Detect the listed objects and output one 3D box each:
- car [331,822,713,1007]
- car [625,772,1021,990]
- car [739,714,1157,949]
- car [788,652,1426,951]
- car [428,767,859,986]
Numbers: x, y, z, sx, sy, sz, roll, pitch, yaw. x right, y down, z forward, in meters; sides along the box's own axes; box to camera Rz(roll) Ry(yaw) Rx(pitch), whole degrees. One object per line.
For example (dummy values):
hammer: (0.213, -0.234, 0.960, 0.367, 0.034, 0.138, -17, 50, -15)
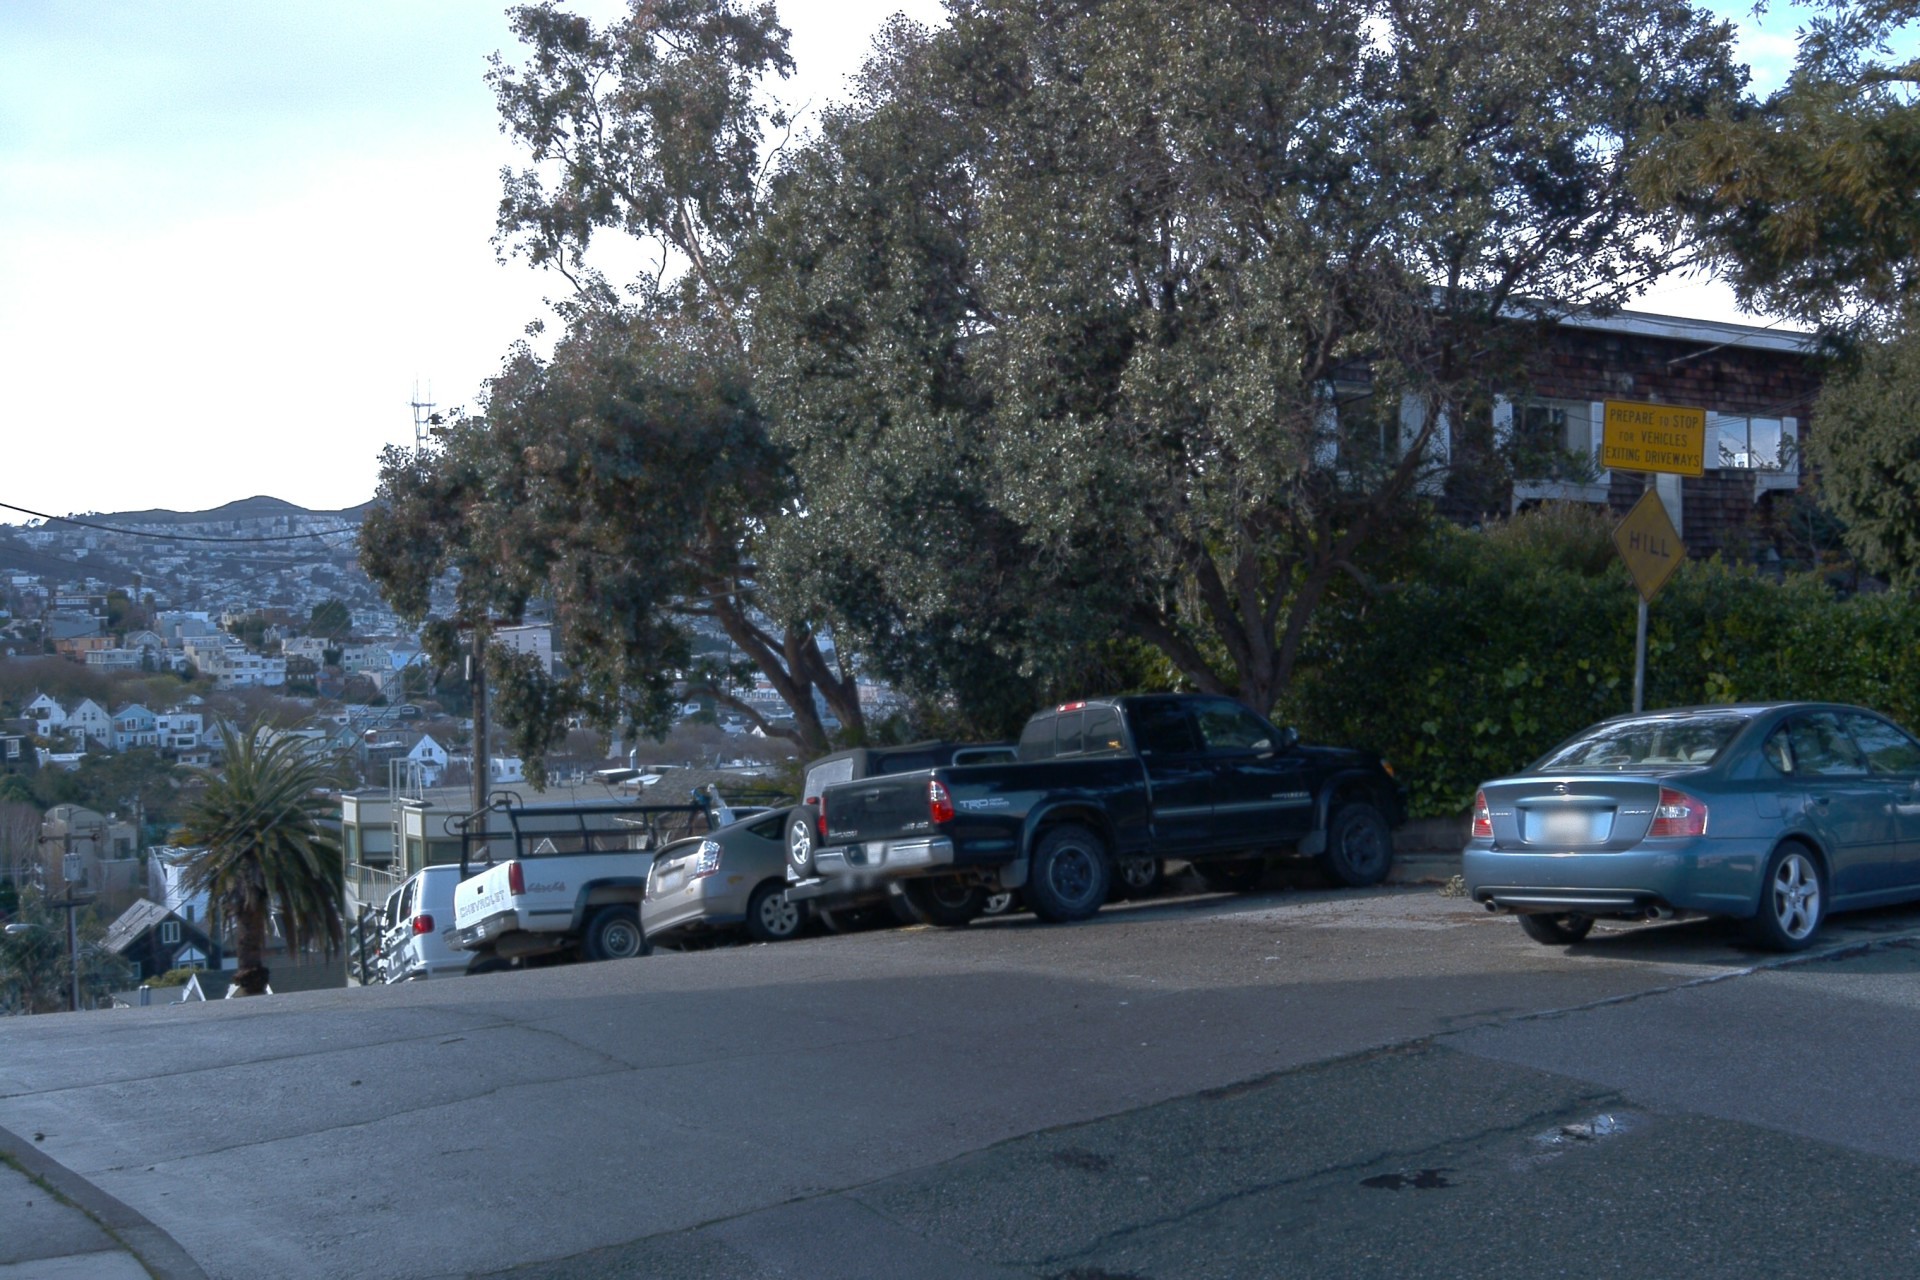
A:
car: (-5.696, 3.497, 26.890, 4.365, 1.810, 2.217, 0, 1, -34)
car: (-1.430, 2.480, 21.940, 3.842, 1.880, 1.735, 0, 1, -33)
car: (-0.085, 1.814, 20.541, 3.837, 2.000, 1.720, 0, 1, -33)
car: (1.388, 1.230, 17.892, 5.451, 2.190, 2.074, 0, 1, -36)
car: (-3.606, 2.602, 23.614, 4.327, 1.990, 2.275, 0, 1, -34)
